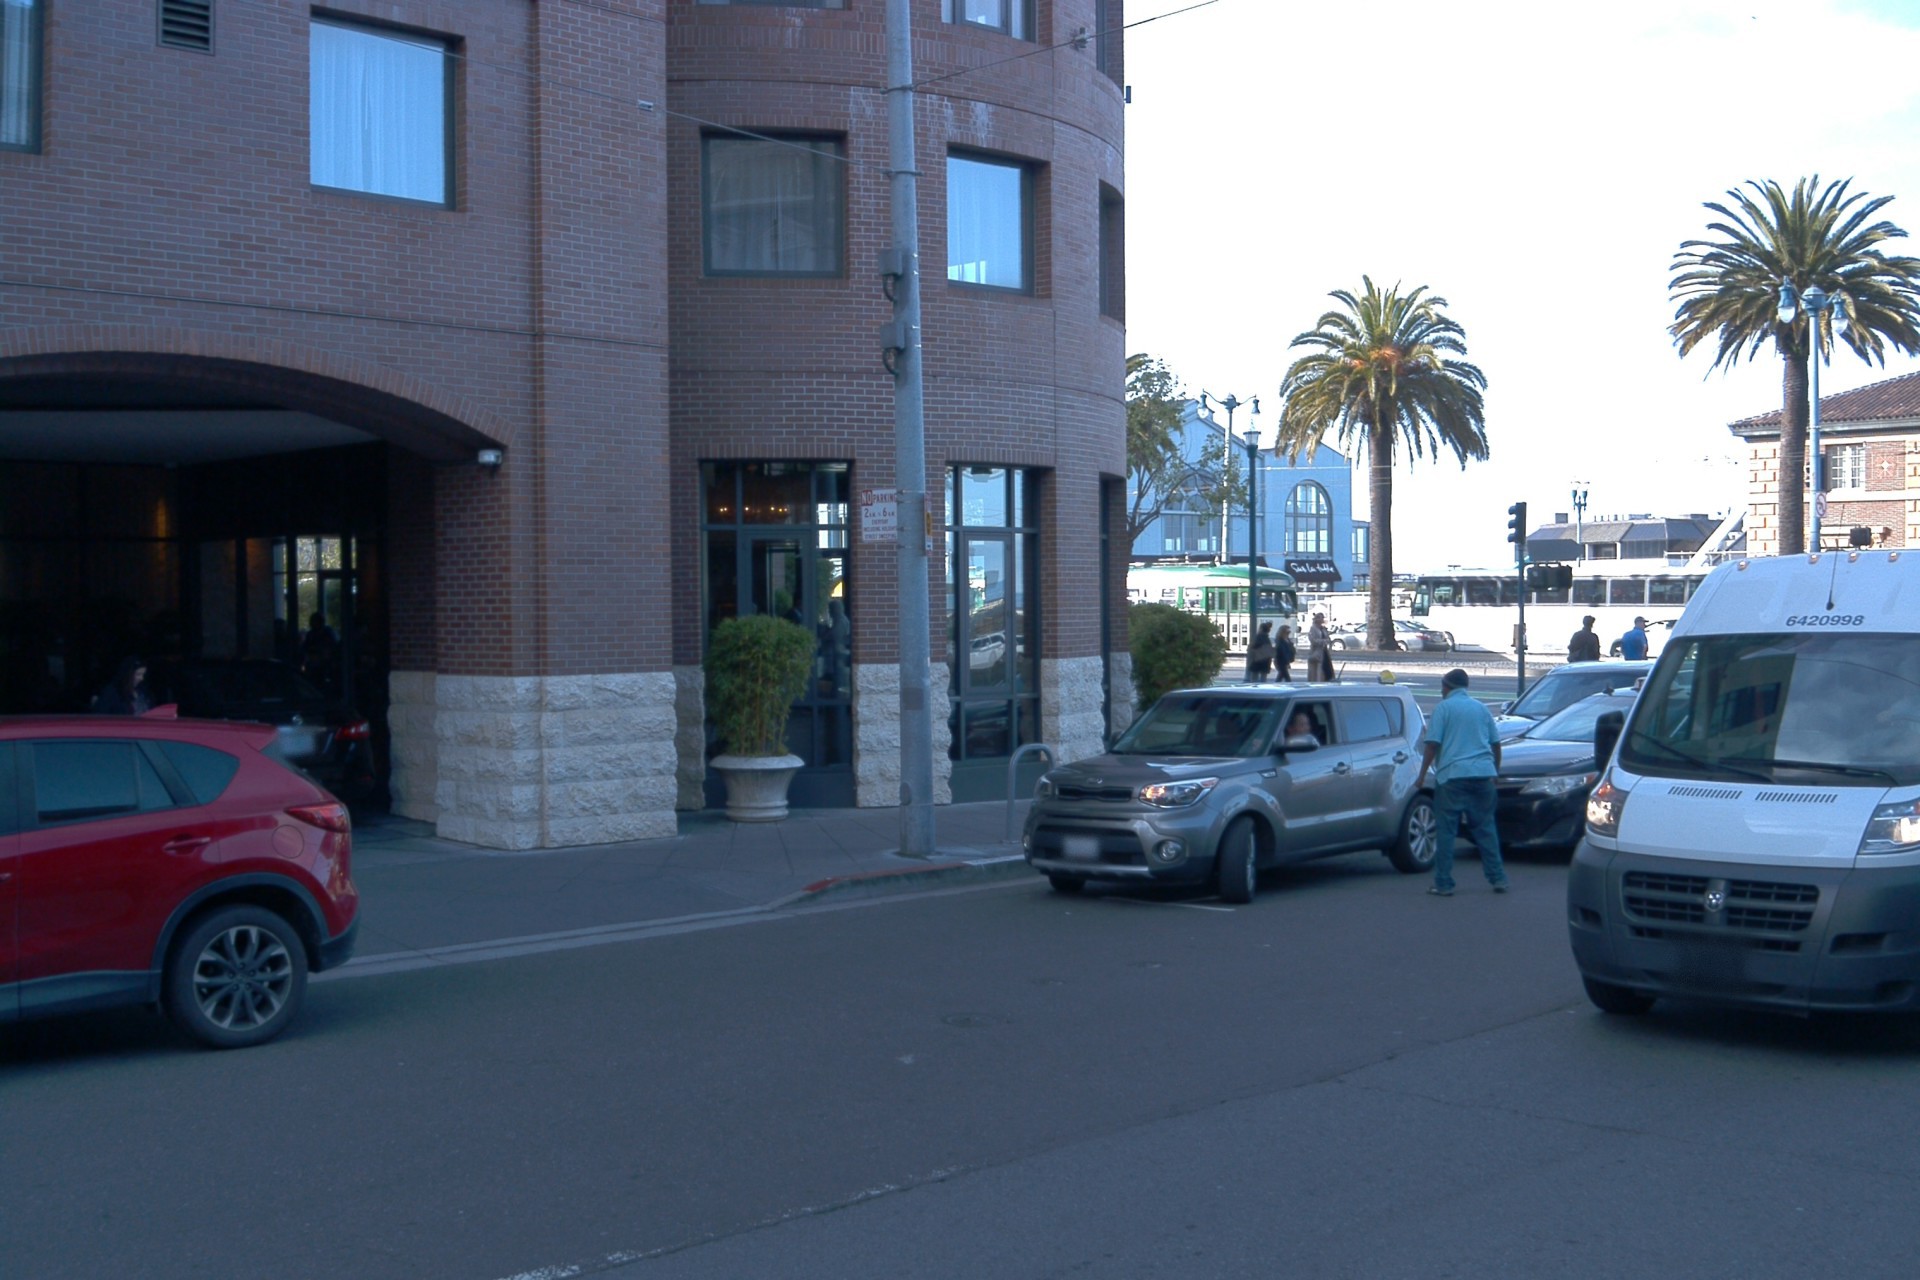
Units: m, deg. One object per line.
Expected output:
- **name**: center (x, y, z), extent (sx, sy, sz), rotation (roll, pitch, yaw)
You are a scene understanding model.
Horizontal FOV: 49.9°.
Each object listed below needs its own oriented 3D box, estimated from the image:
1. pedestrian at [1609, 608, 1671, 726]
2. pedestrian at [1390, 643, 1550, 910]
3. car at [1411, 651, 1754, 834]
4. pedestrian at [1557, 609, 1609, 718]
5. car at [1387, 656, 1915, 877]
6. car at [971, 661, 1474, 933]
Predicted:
- **pedestrian**: center (11.590, 0.441, 35.161), extent (0.970, 1.972, 0.947), rotation (0, 1, 21)
- **pedestrian**: center (3.873, 1.010, 15.748), extent (0.931, 1.950, 0.907), rotation (0, 1, -6)
- **car**: center (6.734, 1.012, 22.124), extent (4.036, 1.705, 1.634), rotation (-1, 1, -41)
- **pedestrian**: center (11.171, 0.407, 36.995), extent (0.740, 1.930, 0.630), rotation (0, 1, 34)
- **car**: center (6.366, 1.046, 18.873), extent (4.715, 1.695, 2.052), rotation (-1, 1, -32)
- **car**: center (2.221, 1.120, 16.592), extent (2.002, 1.787, 4.174), rotation (1, 1, 42)
